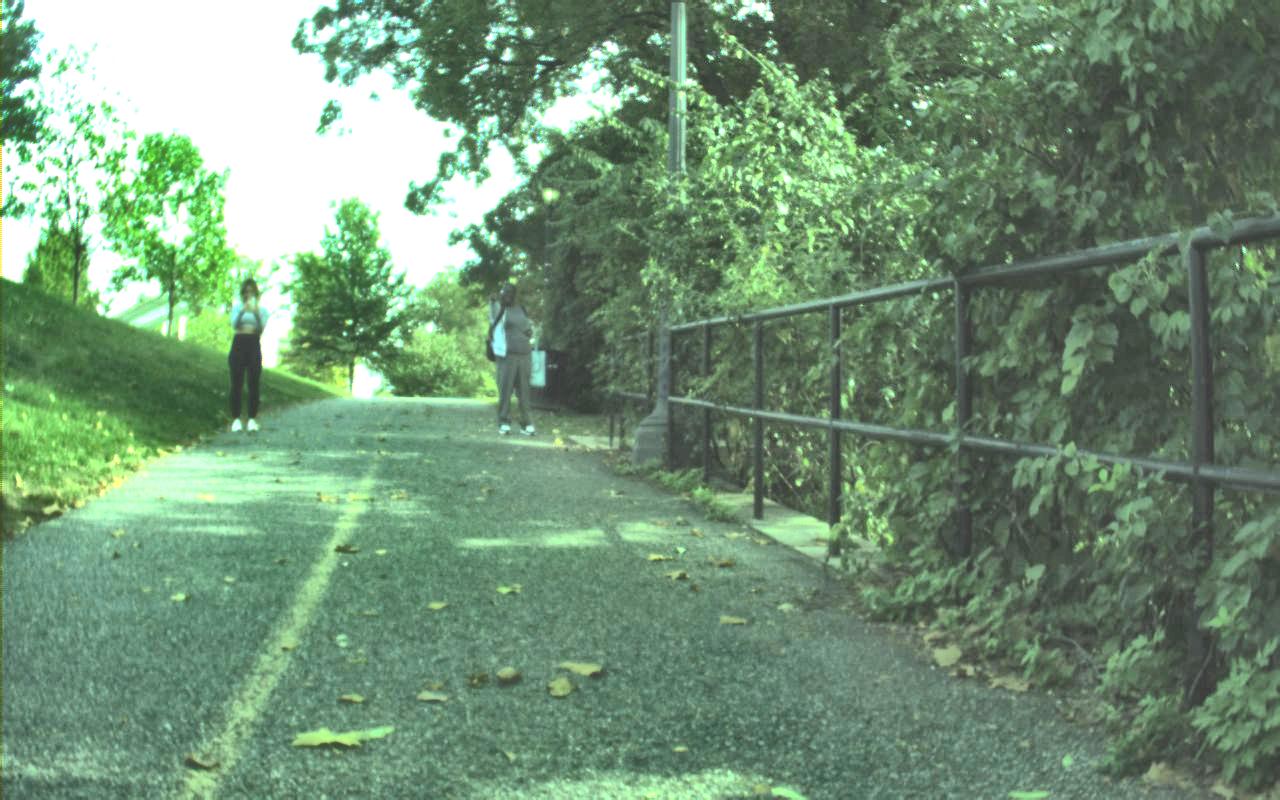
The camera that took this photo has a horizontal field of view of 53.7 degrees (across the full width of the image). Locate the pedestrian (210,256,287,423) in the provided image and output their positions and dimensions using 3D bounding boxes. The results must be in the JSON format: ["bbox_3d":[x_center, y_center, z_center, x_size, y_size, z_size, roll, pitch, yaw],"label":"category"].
[{"bbox_3d":[-4.081,-0.612,12.612,0.782,1.688,0.789,0,0,-16],"label":"pedestrian"}]

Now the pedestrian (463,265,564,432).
[{"bbox_3d":[-1.394,-0.562,13.931,0.825,1.781,0.822,1,0,20],"label":"pedestrian"}]
